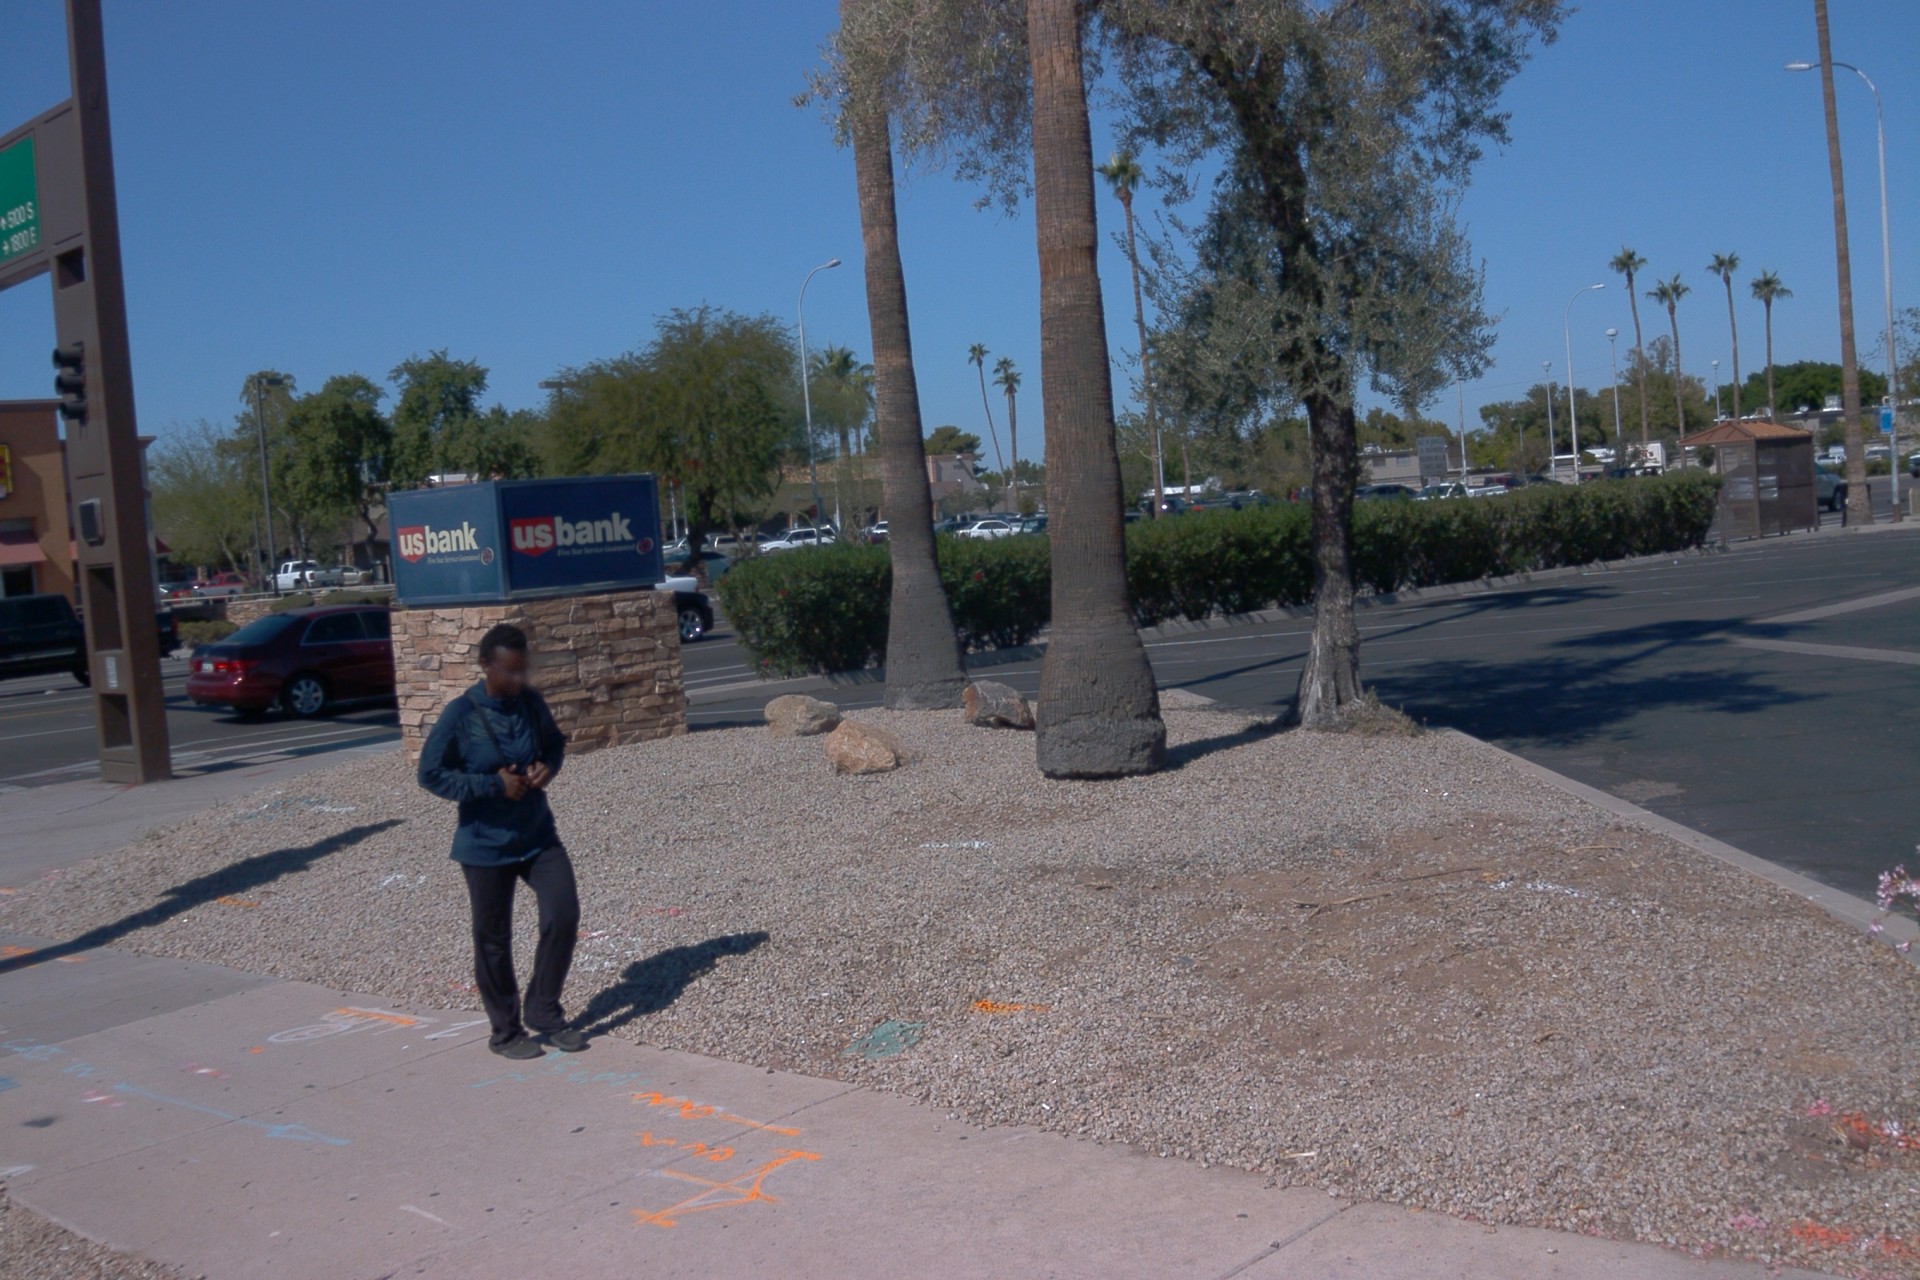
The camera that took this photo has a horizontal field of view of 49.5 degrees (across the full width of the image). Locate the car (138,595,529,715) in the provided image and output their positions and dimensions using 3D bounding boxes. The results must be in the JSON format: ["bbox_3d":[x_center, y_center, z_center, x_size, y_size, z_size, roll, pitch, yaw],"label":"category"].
[{"bbox_3d":[-8.645,0.222,29.031,4.827,1.530,2.017,0,-1,-45],"label":"car"}]

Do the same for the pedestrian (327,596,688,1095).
[{"bbox_3d":[-1.721,0.720,7.866,1.173,1.714,0.807,-2,-1,45],"label":"pedestrian"}]
